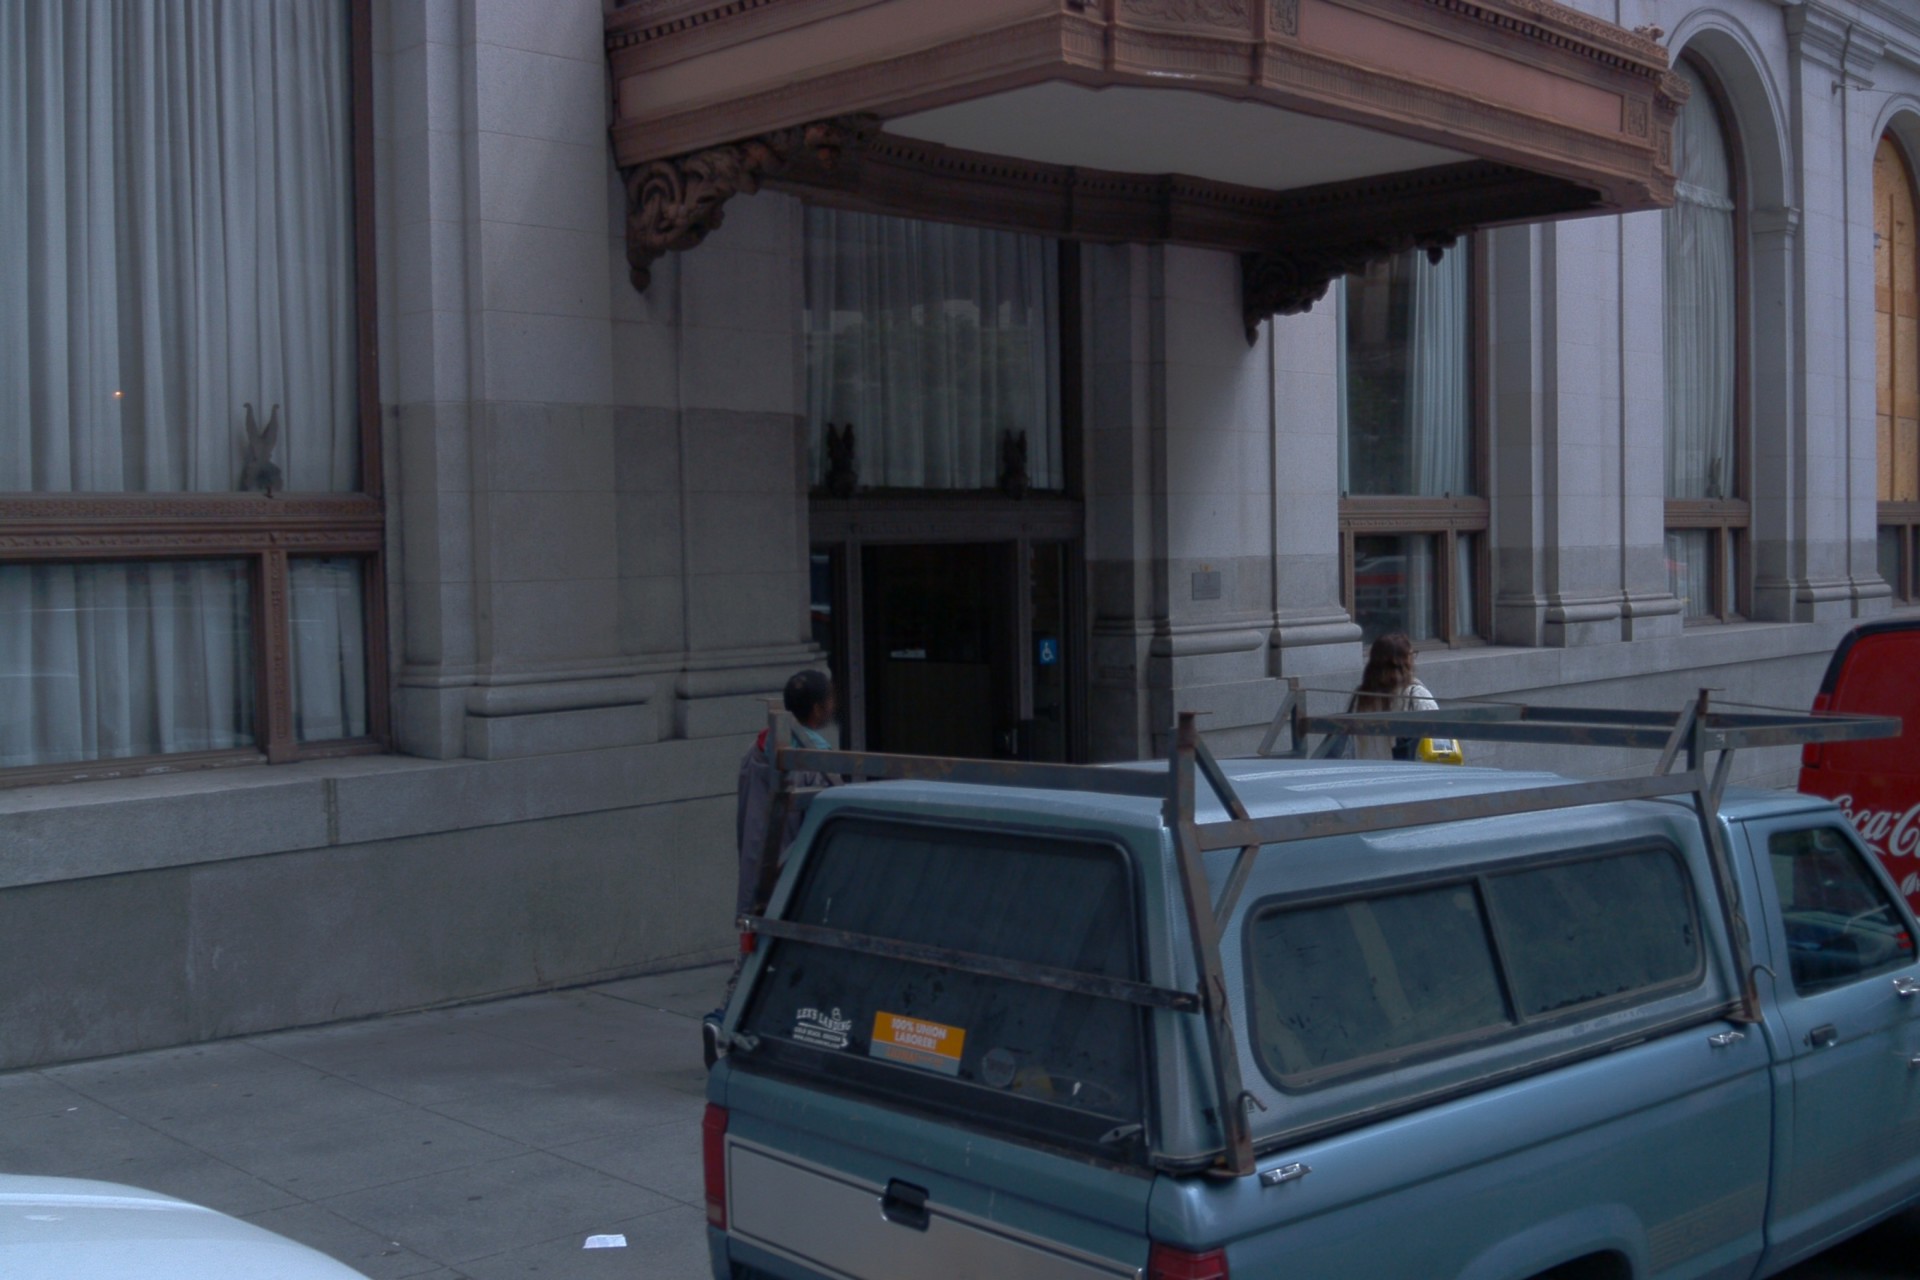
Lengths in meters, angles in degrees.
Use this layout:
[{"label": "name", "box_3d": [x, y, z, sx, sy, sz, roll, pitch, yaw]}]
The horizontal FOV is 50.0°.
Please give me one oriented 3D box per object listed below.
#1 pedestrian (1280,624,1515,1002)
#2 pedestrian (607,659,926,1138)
[{"label": "pedestrian", "box_3d": [2.237, 0.829, 10.505, 0.811, 1.820, 0.903, 1, 1, 45]}, {"label": "pedestrian", "box_3d": [-0.755, 0.944, 8.068, 0.806, 1.710, 0.944, 1, 1, 45]}]
